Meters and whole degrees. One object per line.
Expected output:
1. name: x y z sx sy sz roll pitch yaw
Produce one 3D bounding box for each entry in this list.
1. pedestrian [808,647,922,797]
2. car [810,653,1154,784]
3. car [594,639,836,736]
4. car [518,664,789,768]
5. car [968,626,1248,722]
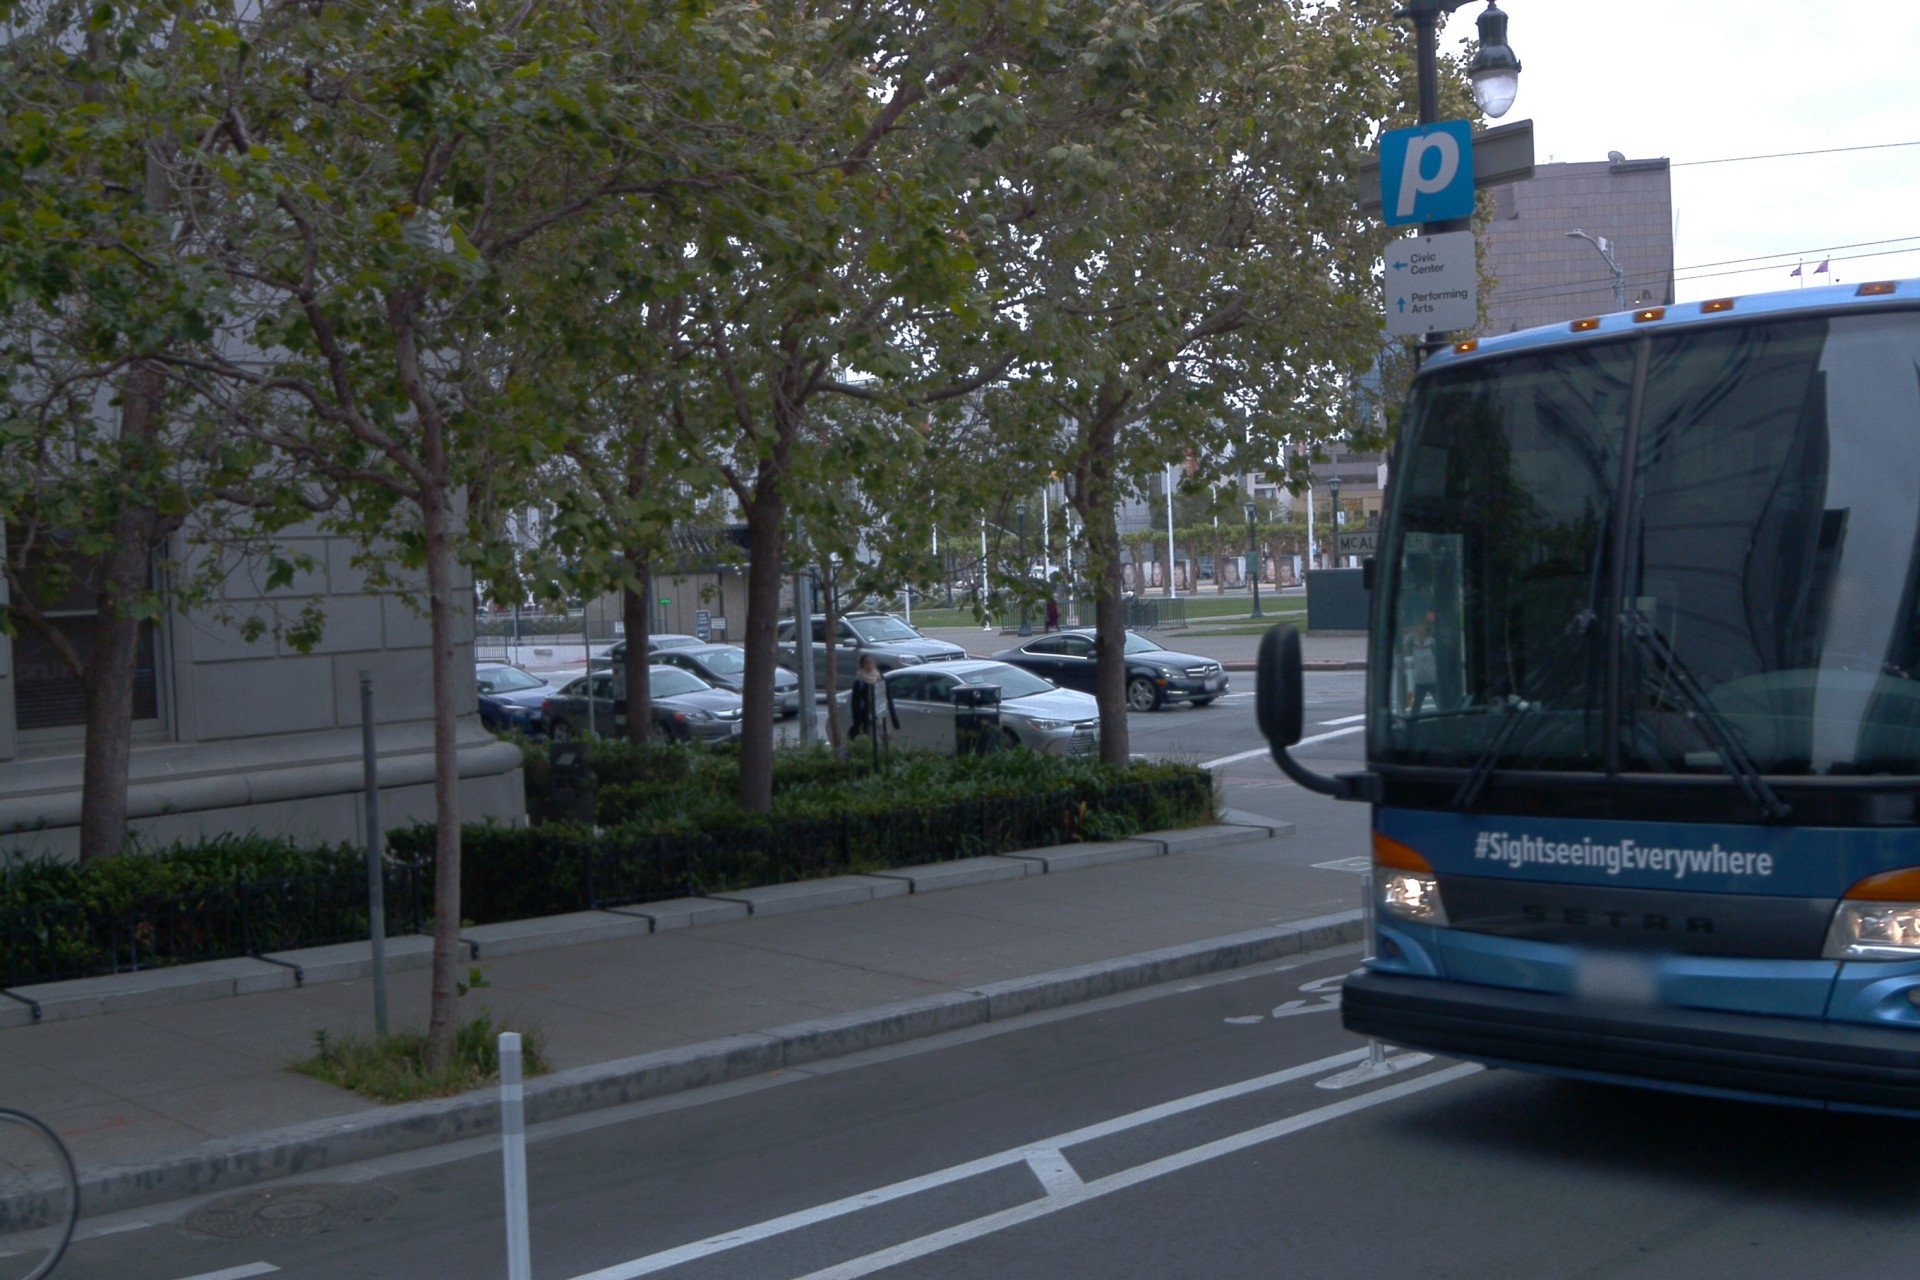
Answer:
1. pedestrian: -1.158 0.979 25.243 0.937 1.754 1.034 -1 1 -45
2. car: 0.244 1.047 29.537 4.754 1.590 2.139 1 1 44
3. car: -4.623 0.837 38.609 4.523 1.630 2.084 1 1 44
4. car: -5.221 1.224 34.794 4.666 1.500 2.130 1 1 44
5. car: 2.499 0.534 35.485 4.497 1.490 2.027 1 1 42
